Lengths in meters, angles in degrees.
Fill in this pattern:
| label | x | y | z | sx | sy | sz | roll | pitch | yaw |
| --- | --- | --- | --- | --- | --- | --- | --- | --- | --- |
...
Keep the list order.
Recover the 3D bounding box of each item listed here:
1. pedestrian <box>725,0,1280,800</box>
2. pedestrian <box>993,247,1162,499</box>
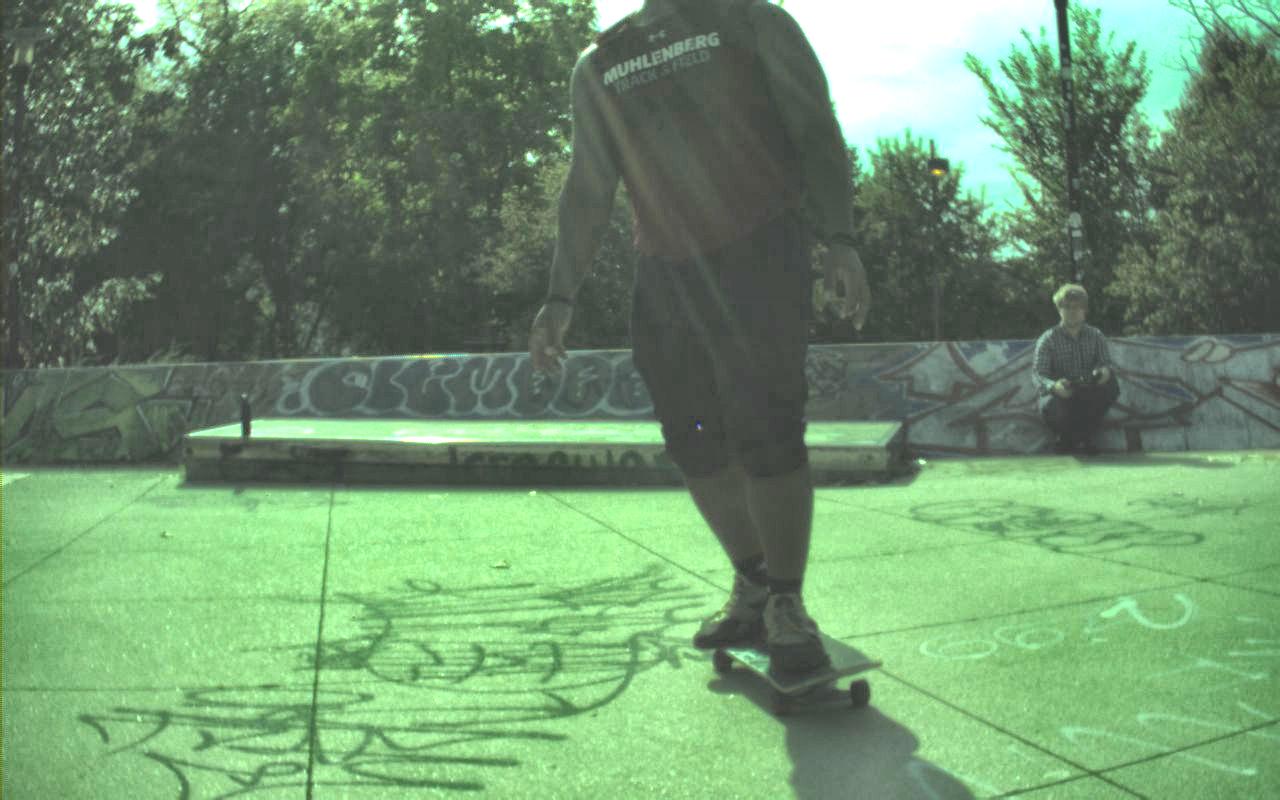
| label | x | y | z | sx | sy | sz | roll | pitch | yaw |
| --- | --- | --- | --- | --- | --- | --- | --- | --- | --- |
| pedestrian | 0.683 | -0.285 | 2.045 | 0.823 | 1.748 | 0.833 | 0 | 0 | -18 |
| pedestrian | 2.850 | -0.164 | 7.839 | 0.871 | 1.540 | 0.830 | 0 | 0 | -6 |
